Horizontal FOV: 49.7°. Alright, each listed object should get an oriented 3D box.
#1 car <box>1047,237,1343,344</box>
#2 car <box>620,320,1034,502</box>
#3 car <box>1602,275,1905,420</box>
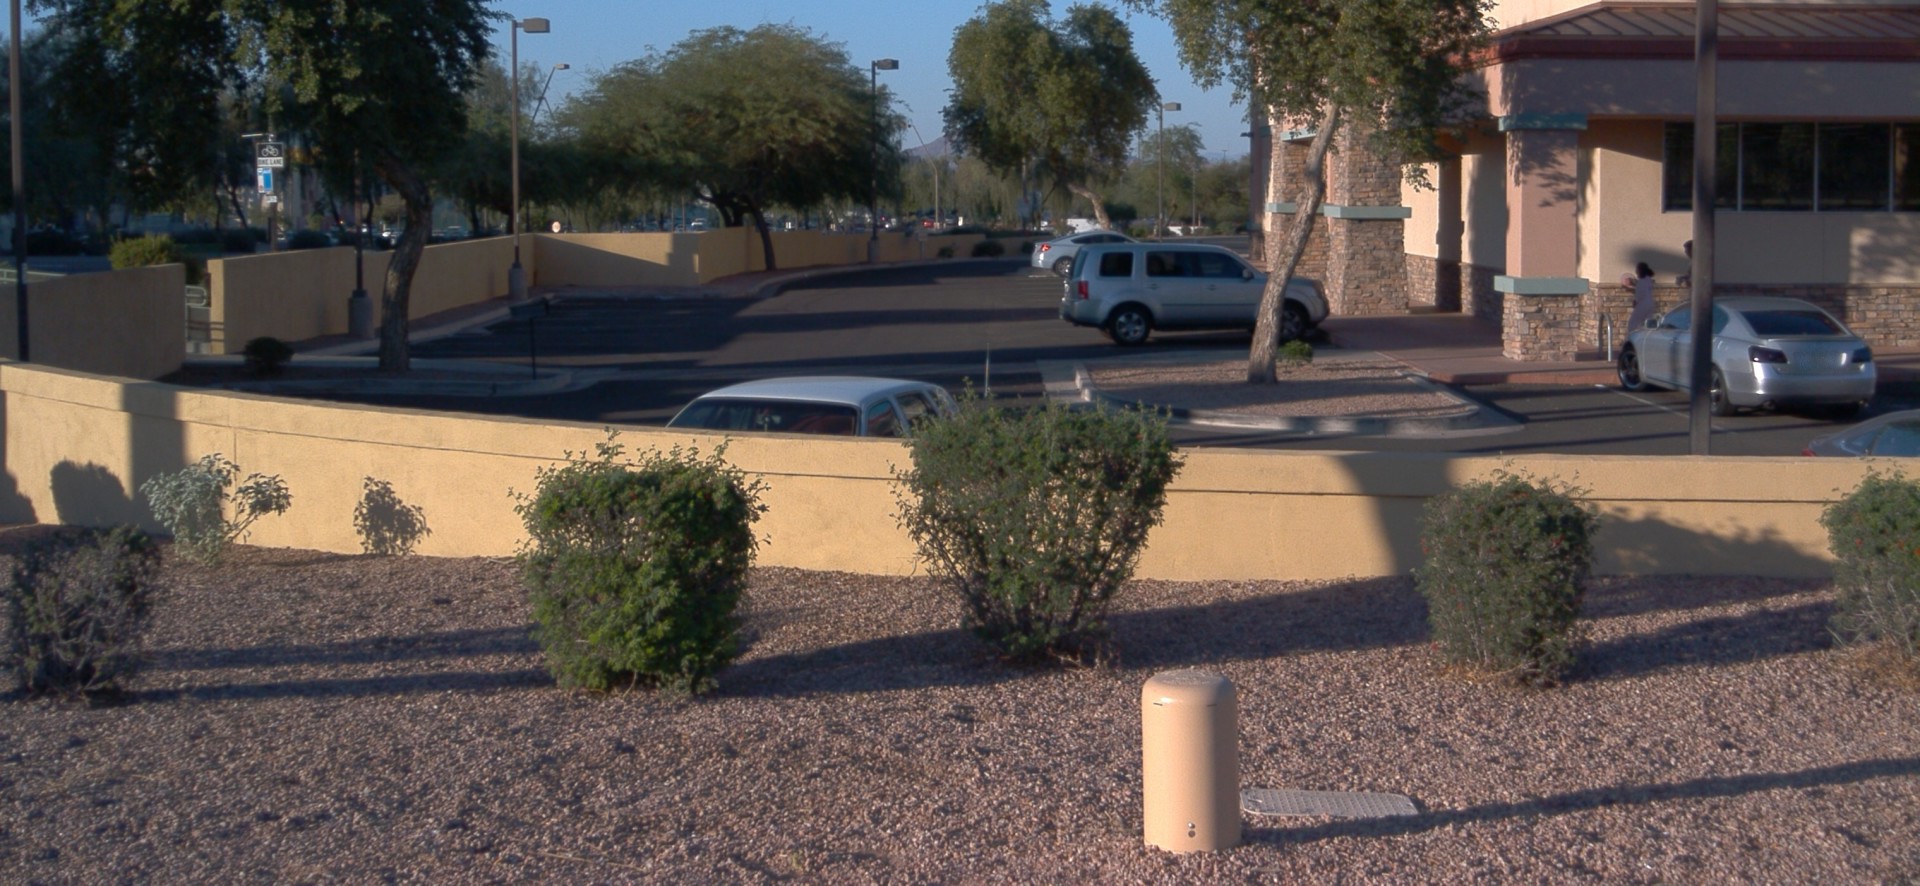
[{"bbox_3d":[4.185,-2.793,37.433,4.991,1.846,2.164,-1,4,-6],"label":"car"},{"bbox_3d":[-0.931,-0.354,16.869,1.917,1.095,3.965,2,6,20],"label":"car"},{"bbox_3d":[10.041,-1.313,26.684,1.912,1.573,4.738,0,5,-3],"label":"car"}]
